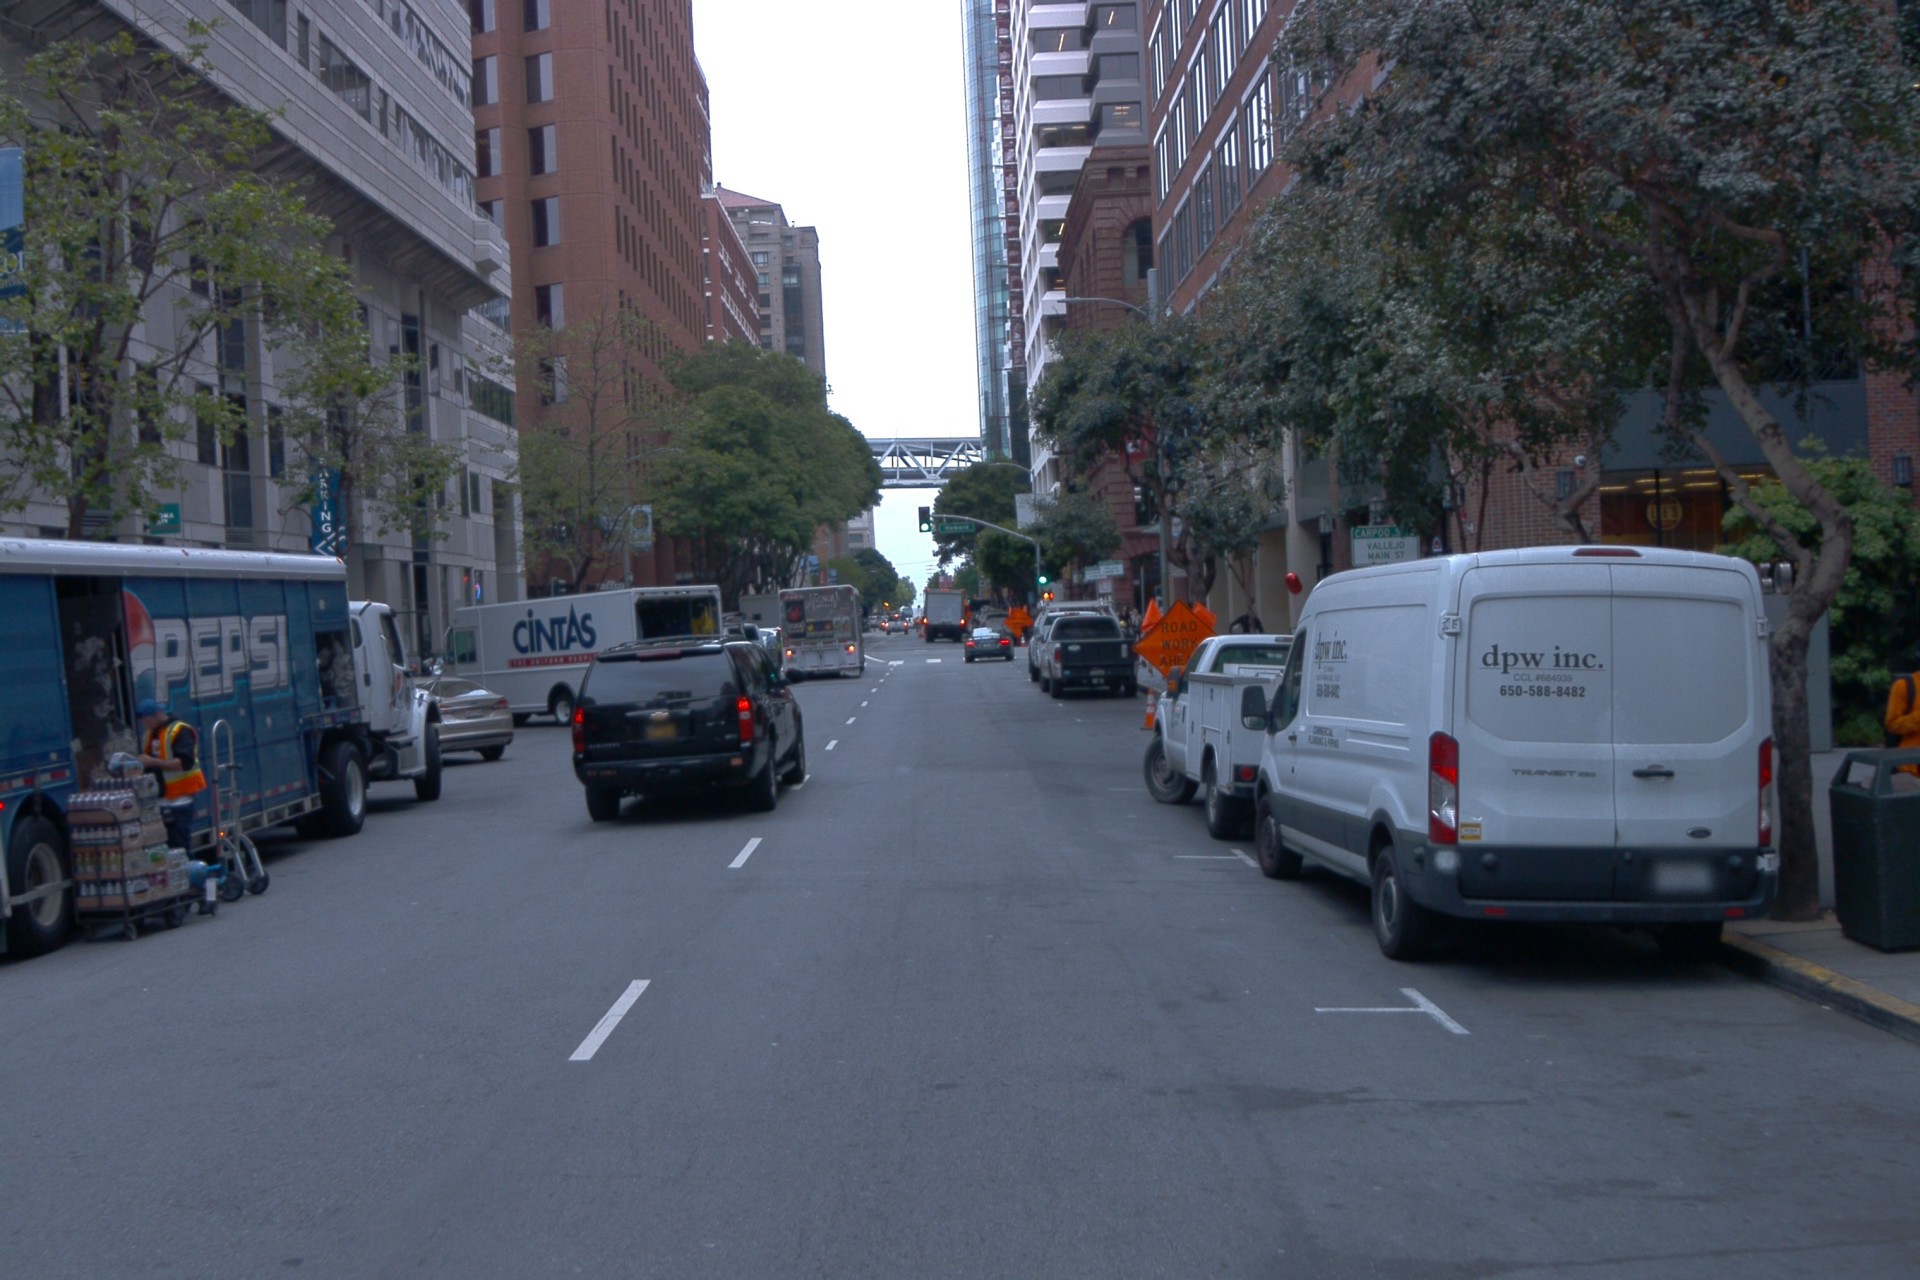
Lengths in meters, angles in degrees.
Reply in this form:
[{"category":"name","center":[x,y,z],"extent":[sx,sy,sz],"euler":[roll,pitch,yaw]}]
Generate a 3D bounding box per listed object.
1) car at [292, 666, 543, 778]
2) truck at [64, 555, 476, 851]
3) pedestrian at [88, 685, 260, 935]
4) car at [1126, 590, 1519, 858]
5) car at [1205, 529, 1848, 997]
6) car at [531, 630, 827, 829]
[{"category":"car","center":[-9.387,1.335,35.287],"extent":[2.161,1.660,4.918],"euler":[-1,1,-42]},{"category":"truck","center":[-7.927,0.630,24.462],"extent":[2.964,3.110,5.685],"euler":[0,1,0]},{"category":"pedestrian","center":[-6.220,1.310,16.277],"extent":[0.989,1.860,0.829],"euler":[0,1,31]},{"category":"car","center":[3.369,0.685,20.681],"extent":[2.613,2.293,5.986],"euler":[0,1,-3]},{"category":"car","center":[3.493,0.635,14.345],"extent":[2.501,2.560,6.049],"euler":[0,1,-3]},{"category":"car","center":[-2.993,0.881,23.423],"extent":[2.450,1.929,5.813],"euler":[0,1,1]}]
